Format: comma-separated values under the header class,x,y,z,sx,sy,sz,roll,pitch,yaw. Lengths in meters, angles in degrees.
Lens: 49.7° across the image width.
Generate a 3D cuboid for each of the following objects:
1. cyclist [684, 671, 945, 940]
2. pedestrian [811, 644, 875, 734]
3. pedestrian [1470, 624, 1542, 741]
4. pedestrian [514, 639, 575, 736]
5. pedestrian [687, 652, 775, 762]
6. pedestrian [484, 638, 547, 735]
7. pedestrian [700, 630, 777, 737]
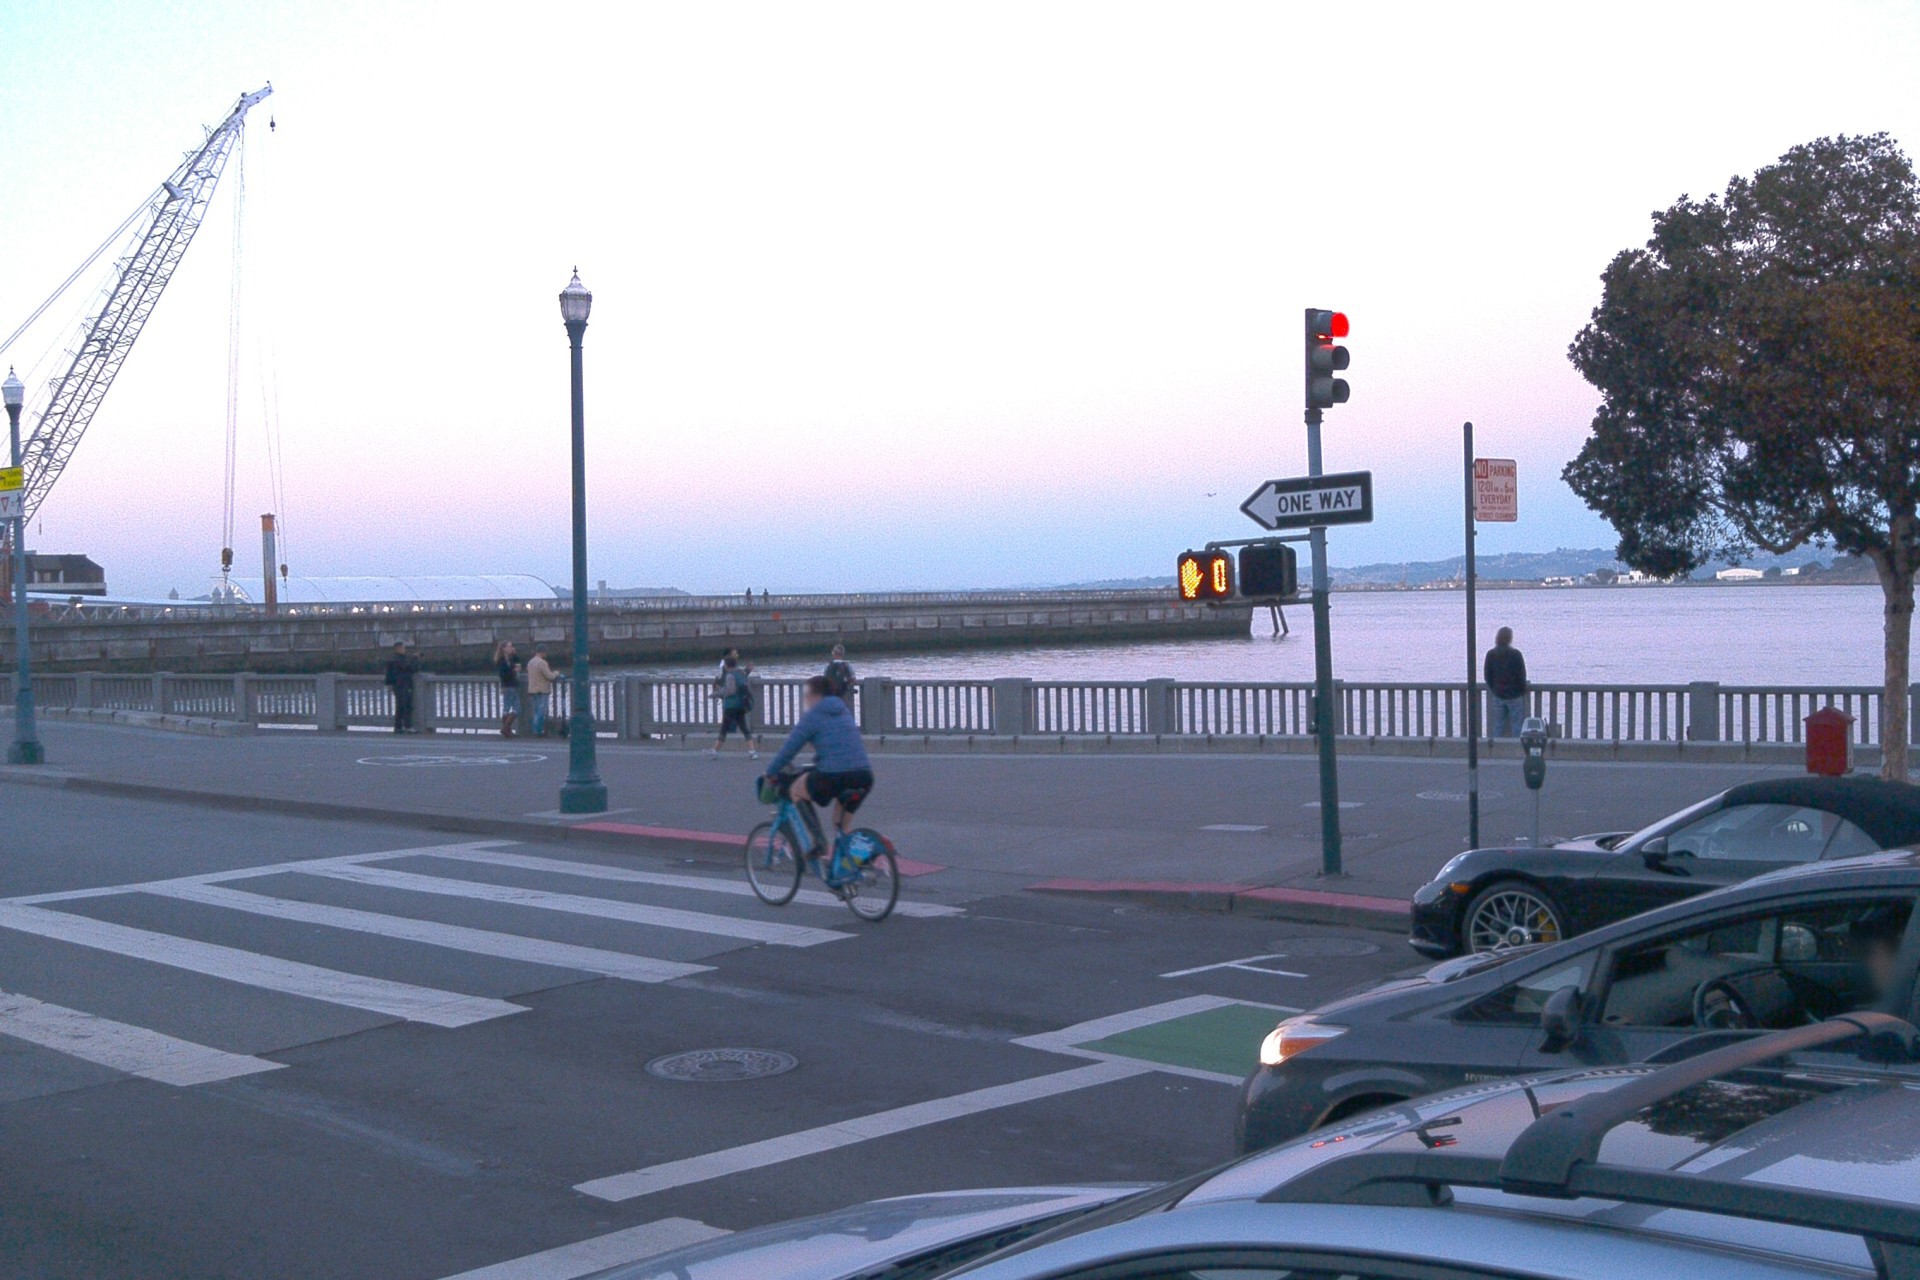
class,x,y,z,sx,sy,sz,roll,pitch,yaw
cyclist,-1.114,1.166,15.459,0.867,1.860,2.038,0,0,-42
pedestrian,-1.838,0.761,32.660,0.791,1.400,0.928,0,0,11
pedestrian,7.208,0.557,27.361,0.751,1.510,0.681,0,0,33
pedestrian,-7.380,0.836,36.850,0.753,1.710,0.745,0,0,33
pedestrian,-3.355,0.968,30.341,0.983,1.580,0.827,0,0,28
pedestrian,-7.972,0.827,37.196,0.731,1.710,0.825,0,0,37
pedestrian,-3.538,0.682,33.082,0.867,1.680,0.881,0,0,-43
